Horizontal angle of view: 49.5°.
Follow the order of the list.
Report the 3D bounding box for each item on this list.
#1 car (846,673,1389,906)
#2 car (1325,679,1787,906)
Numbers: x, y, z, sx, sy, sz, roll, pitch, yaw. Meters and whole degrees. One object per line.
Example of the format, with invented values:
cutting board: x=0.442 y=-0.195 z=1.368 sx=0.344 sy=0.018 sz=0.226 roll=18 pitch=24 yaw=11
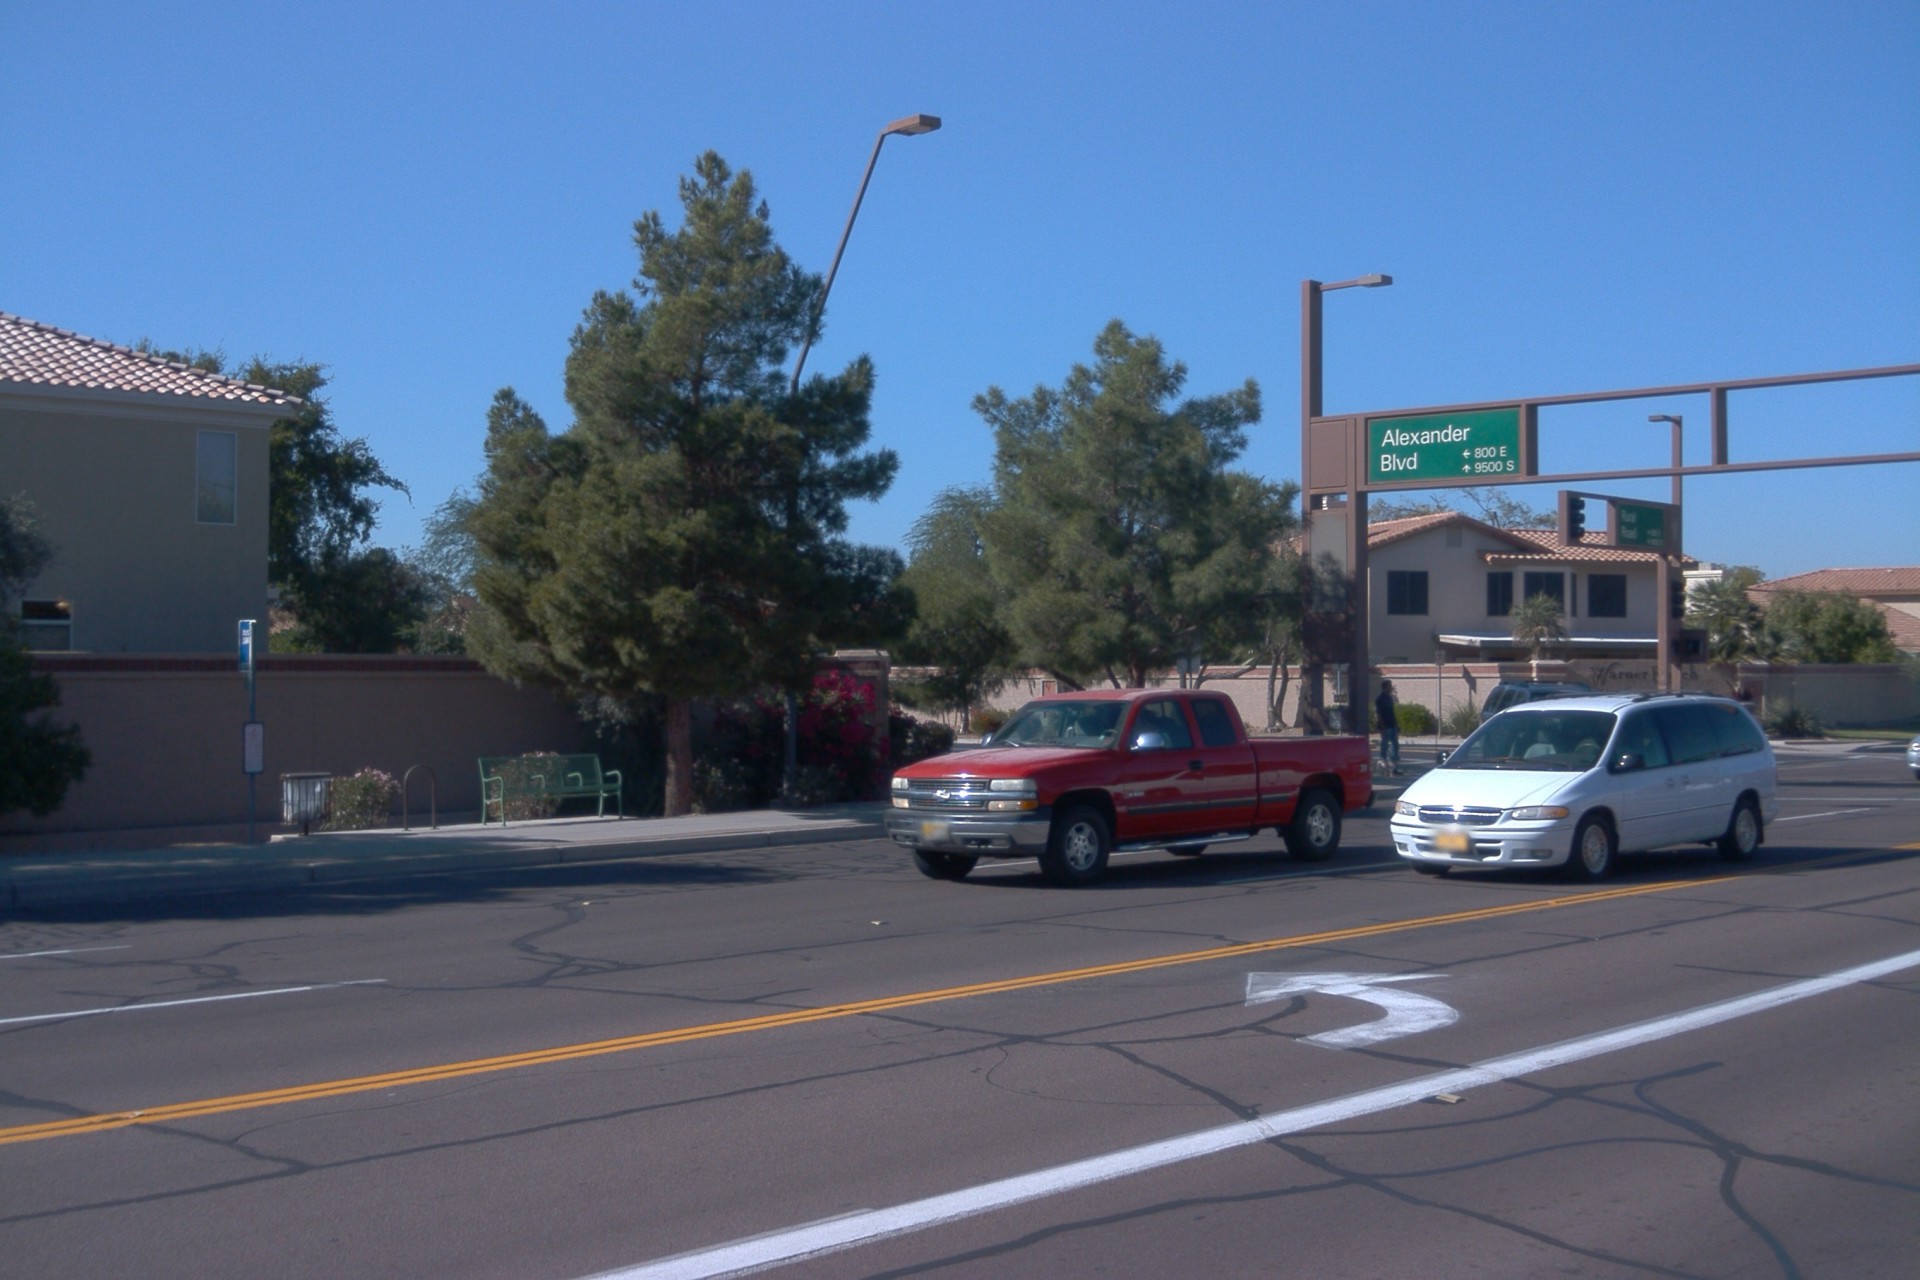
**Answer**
car: x=1.773 y=1.367 z=21.254 sx=2.293 sy=2.000 sz=5.780 roll=0 pitch=0 yaw=45
car: x=5.999 y=1.370 z=20.568 sx=5.011 sy=1.900 sz=2.195 roll=1 pitch=0 yaw=-45
